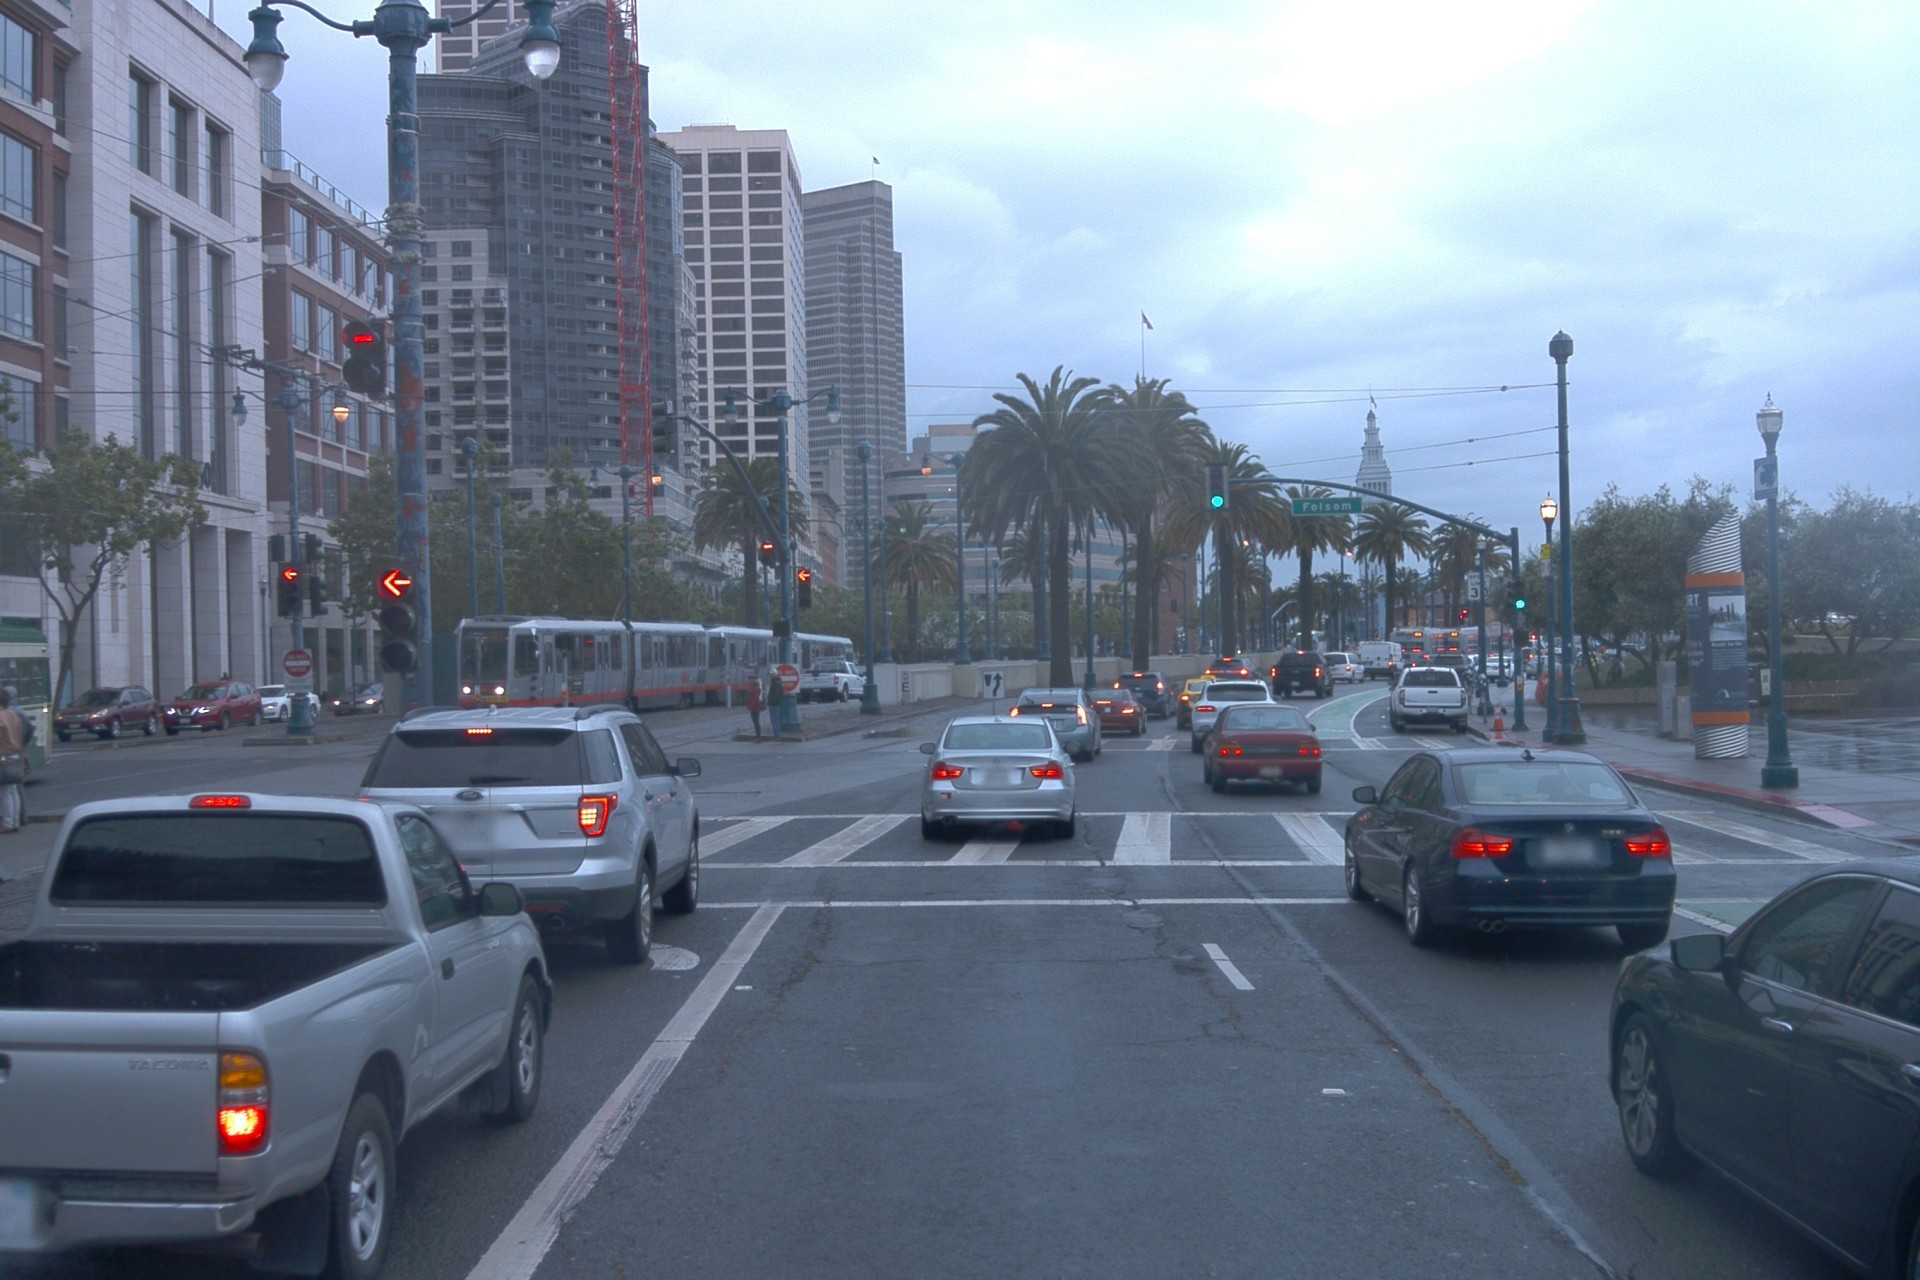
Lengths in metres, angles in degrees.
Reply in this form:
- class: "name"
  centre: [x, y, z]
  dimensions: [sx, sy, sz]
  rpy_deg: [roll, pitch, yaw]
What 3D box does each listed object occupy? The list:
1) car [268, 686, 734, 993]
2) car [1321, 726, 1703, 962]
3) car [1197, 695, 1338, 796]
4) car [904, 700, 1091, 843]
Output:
- class: "car"
  centre: [-3.150, 1.307, 15.513]
  dimensions: [2.401, 1.870, 5.027]
  rpy_deg: [0, -1, 0]
- class: "car"
  centre: [4.047, 1.448, 15.960]
  dimensions: [1.869, 1.450, 4.344]
  rpy_deg: [0, -1, 1]
- class: "car"
  centre: [4.799, 1.625, 32.834]
  dimensions: [1.923, 1.450, 3.944]
  rpy_deg: [0, -1, 4]
- class: "car"
  centre: [0.512, 1.525, 25.311]
  dimensions: [2.067, 1.510, 4.626]
  rpy_deg: [0, -1, 2]
